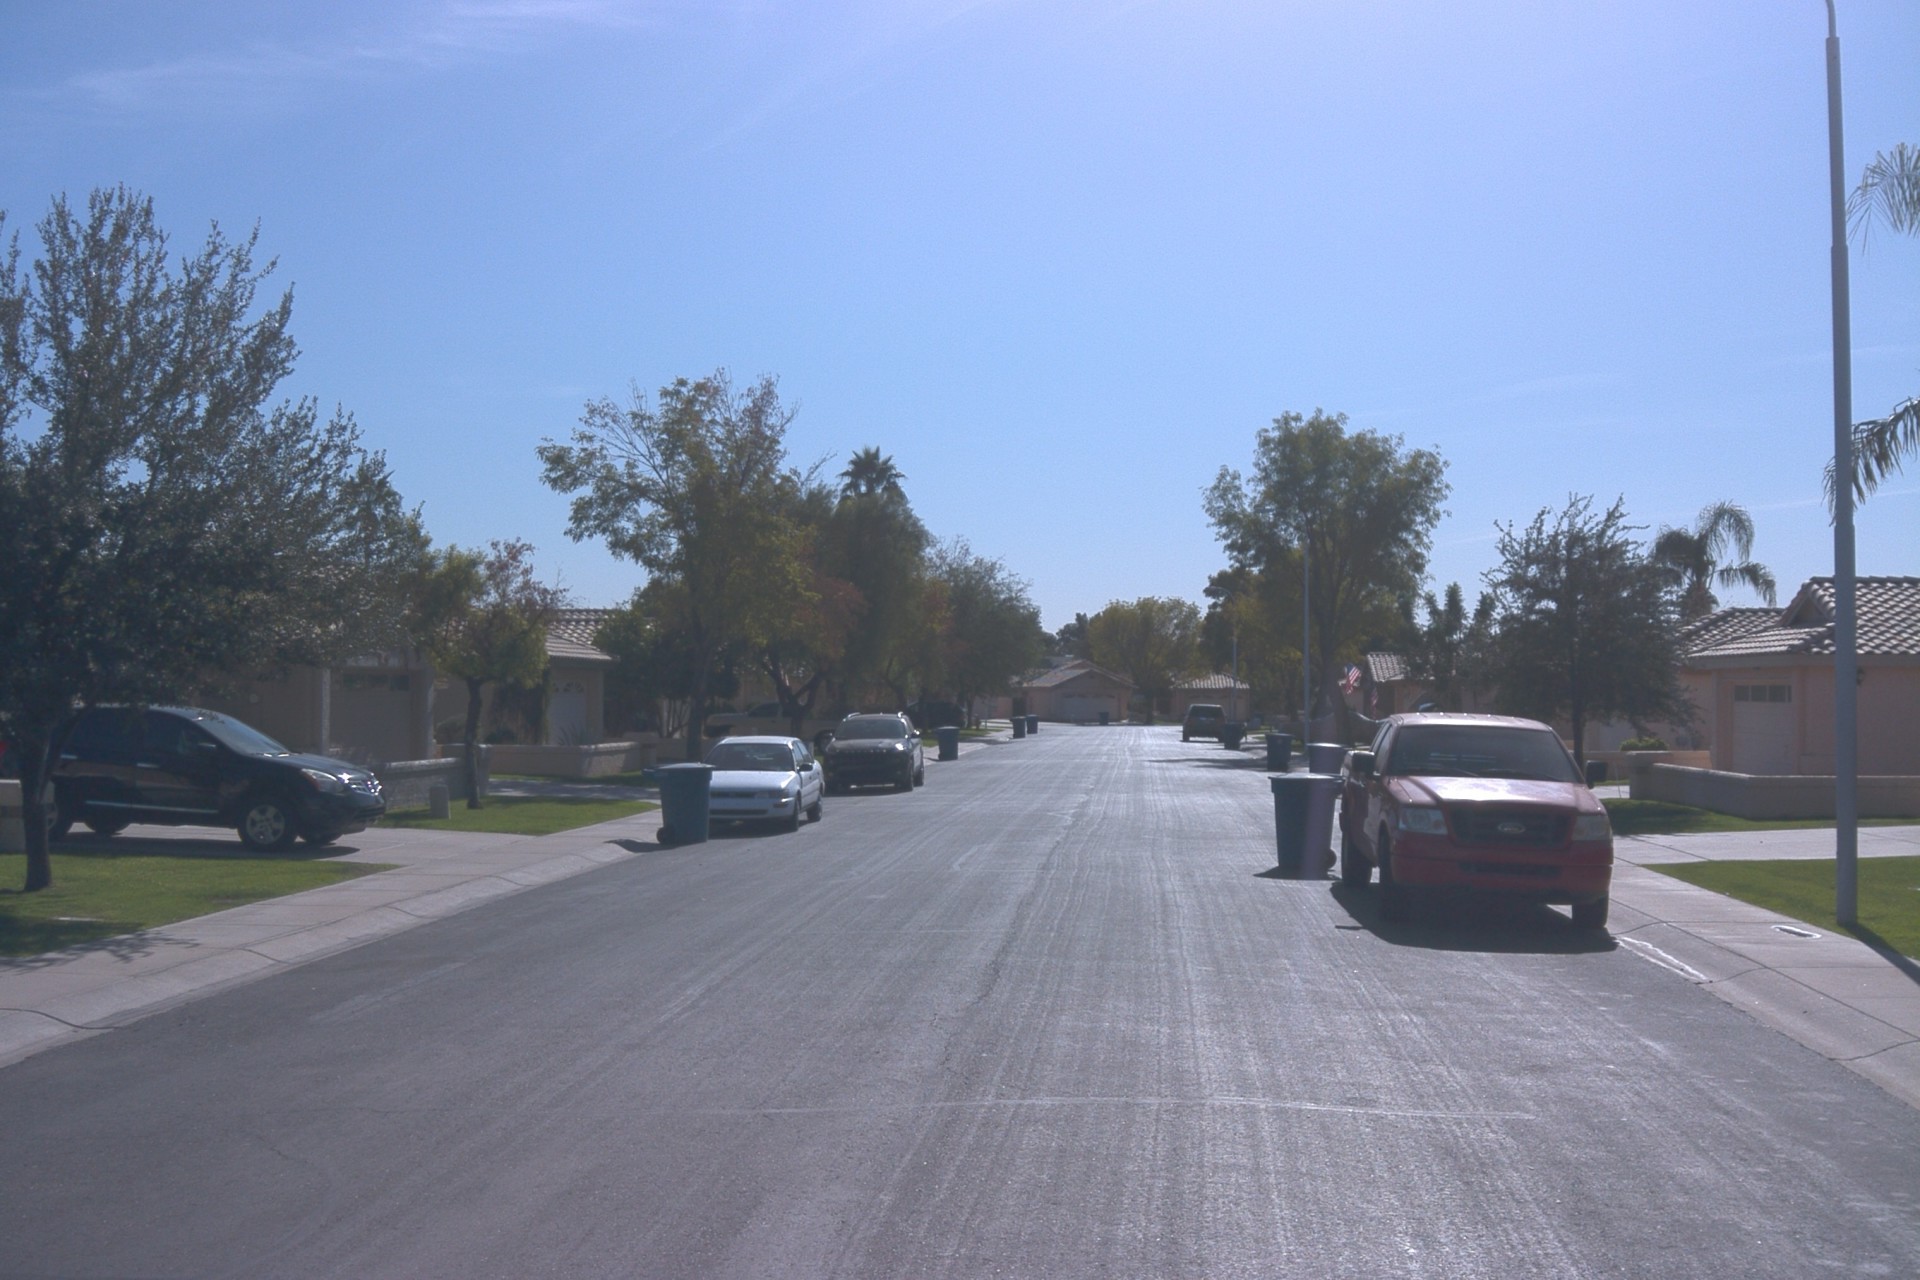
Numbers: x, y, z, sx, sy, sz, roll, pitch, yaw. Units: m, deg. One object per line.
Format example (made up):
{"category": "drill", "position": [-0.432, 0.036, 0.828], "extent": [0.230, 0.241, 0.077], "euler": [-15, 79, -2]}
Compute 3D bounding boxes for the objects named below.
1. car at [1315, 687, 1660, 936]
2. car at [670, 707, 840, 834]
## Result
{"category": "car", "position": [4.901, 1.500, 20.088], "extent": [2.440, 1.980, 5.477], "euler": [0, 0, 6]}
{"category": "car", "position": [-3.057, 1.933, 31.632], "extent": [1.887, 1.690, 4.363], "euler": [0, 0, 4]}
